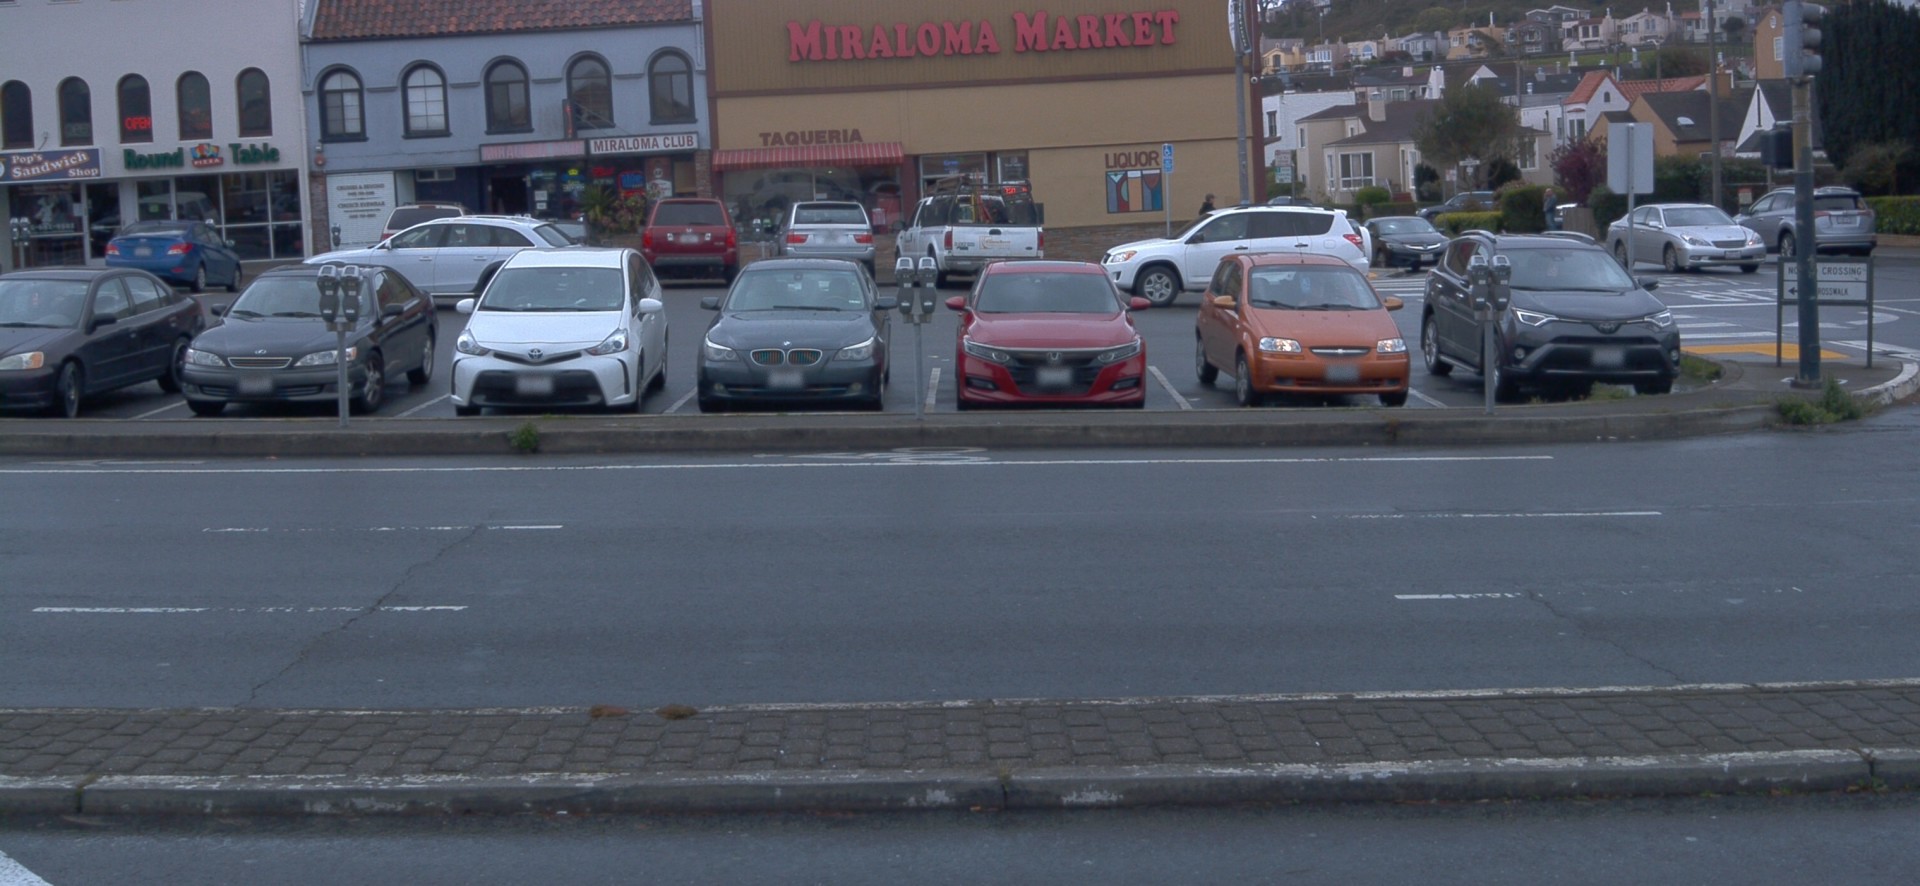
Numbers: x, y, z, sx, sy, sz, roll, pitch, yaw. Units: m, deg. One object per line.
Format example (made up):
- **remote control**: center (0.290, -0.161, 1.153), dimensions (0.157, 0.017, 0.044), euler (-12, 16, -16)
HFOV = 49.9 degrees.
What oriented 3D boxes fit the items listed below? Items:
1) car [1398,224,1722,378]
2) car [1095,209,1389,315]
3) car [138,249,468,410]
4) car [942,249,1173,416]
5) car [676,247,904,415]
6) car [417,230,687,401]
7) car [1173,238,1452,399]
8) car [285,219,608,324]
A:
- **car**: center (6.387, -1.640, 22.575), dimensions (2.205, 1.461, 4.580), euler (0, 6, 0)
- **car**: center (4.749, -3.116, 35.258), dimensions (4.740, 1.734, 2.064), euler (0, 4, -1)
- **car**: center (-6.721, -1.286, 21.702), dimensions (2.023, 1.392, 4.712), euler (0, 6, -1)
- **car**: center (0.905, -1.266, 21.831), dimensions (2.185, 1.461, 4.636), euler (0, 6, -1)
- **car**: center (-1.660, -1.270, 21.658), dimensions (2.112, 1.461, 4.574), euler (0, 6, -1)
- **car**: center (-4.054, -1.415, 21.287), dimensions (2.132, 1.491, 4.678), euler (0, 6, -4)
- **car**: center (3.595, -1.397, 21.823), dimensions (2.049, 1.462, 4.037), euler (0, 6, -4)
- **car**: center (-8.274, -2.814, 33.507), dimensions (4.649, 1.604, 2.082), euler (0, 5, 4)
